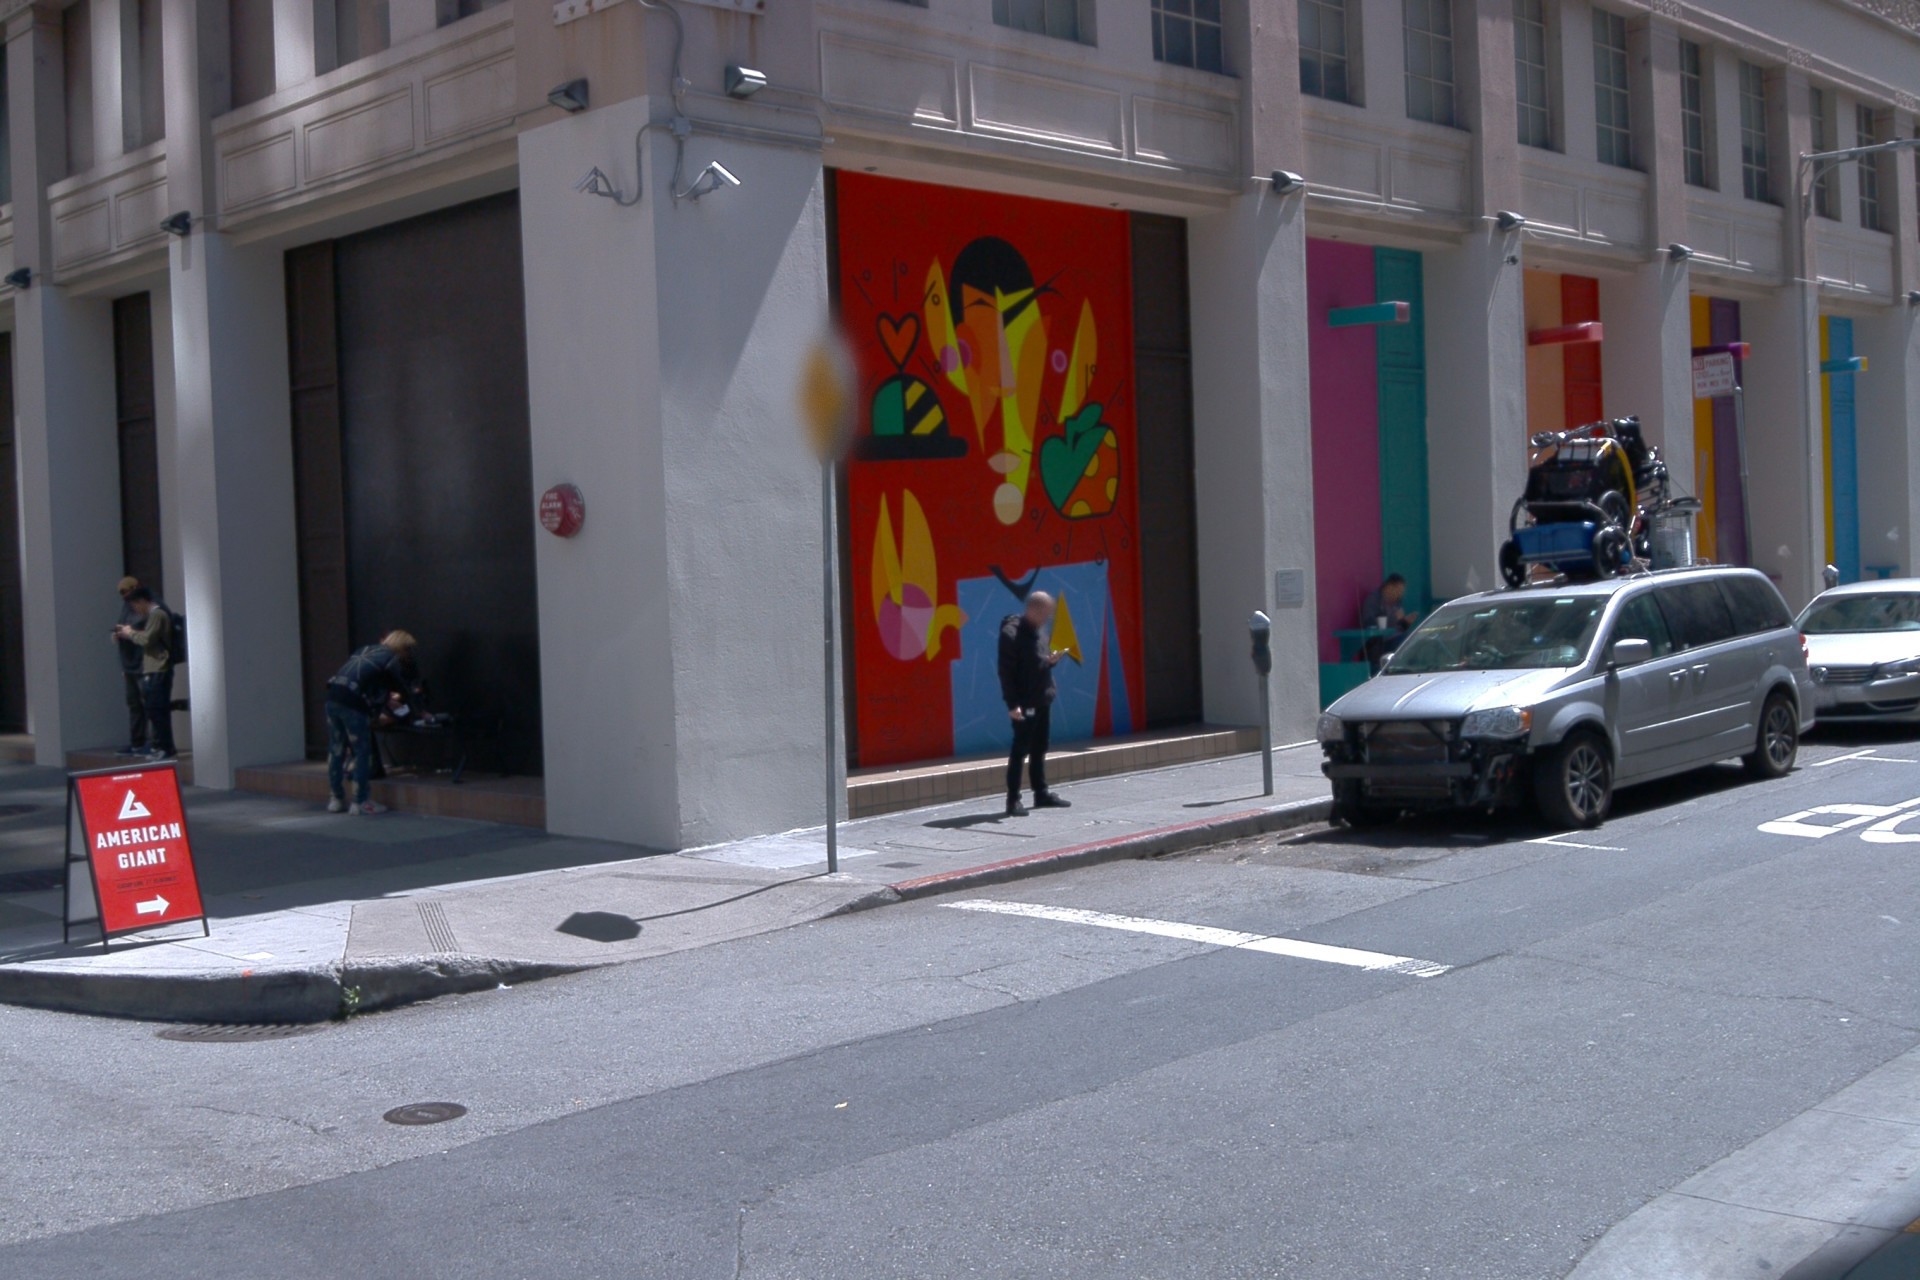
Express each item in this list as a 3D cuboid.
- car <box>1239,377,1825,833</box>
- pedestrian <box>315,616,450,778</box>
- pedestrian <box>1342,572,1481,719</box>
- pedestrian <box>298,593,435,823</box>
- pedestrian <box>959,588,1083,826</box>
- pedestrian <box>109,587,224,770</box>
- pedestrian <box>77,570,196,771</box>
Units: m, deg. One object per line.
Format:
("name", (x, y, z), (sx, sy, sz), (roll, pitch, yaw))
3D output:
("car", (4.601, -0.258, 16.028), (2.318, 2.980, 4.990), (0, 1, 44))
("pedestrian", (-4.888, 0.464, 17.399), (0.747, 1.328, 0.832), (0, 0, 43))
("pedestrian", (4.627, 0.048, 21.081), (1.166, 1.457, 0.752), (0, 0, 43))
("pedestrian", (-4.886, 0.538, 16.932), (0.674, 1.838, 0.853), (0, 0, 42))
("pedestrian", (0.462, 0.486, 15.535), (0.751, 1.740, 0.573), (0, 0, -45))
("pedestrian", (-7.755, 0.359, 20.102), (0.701, 1.744, 0.827), (0, 0, 43))
("pedestrian", (-8.209, 0.288, 20.509), (0.774, 1.953, 0.848), (0, 0, 43))
